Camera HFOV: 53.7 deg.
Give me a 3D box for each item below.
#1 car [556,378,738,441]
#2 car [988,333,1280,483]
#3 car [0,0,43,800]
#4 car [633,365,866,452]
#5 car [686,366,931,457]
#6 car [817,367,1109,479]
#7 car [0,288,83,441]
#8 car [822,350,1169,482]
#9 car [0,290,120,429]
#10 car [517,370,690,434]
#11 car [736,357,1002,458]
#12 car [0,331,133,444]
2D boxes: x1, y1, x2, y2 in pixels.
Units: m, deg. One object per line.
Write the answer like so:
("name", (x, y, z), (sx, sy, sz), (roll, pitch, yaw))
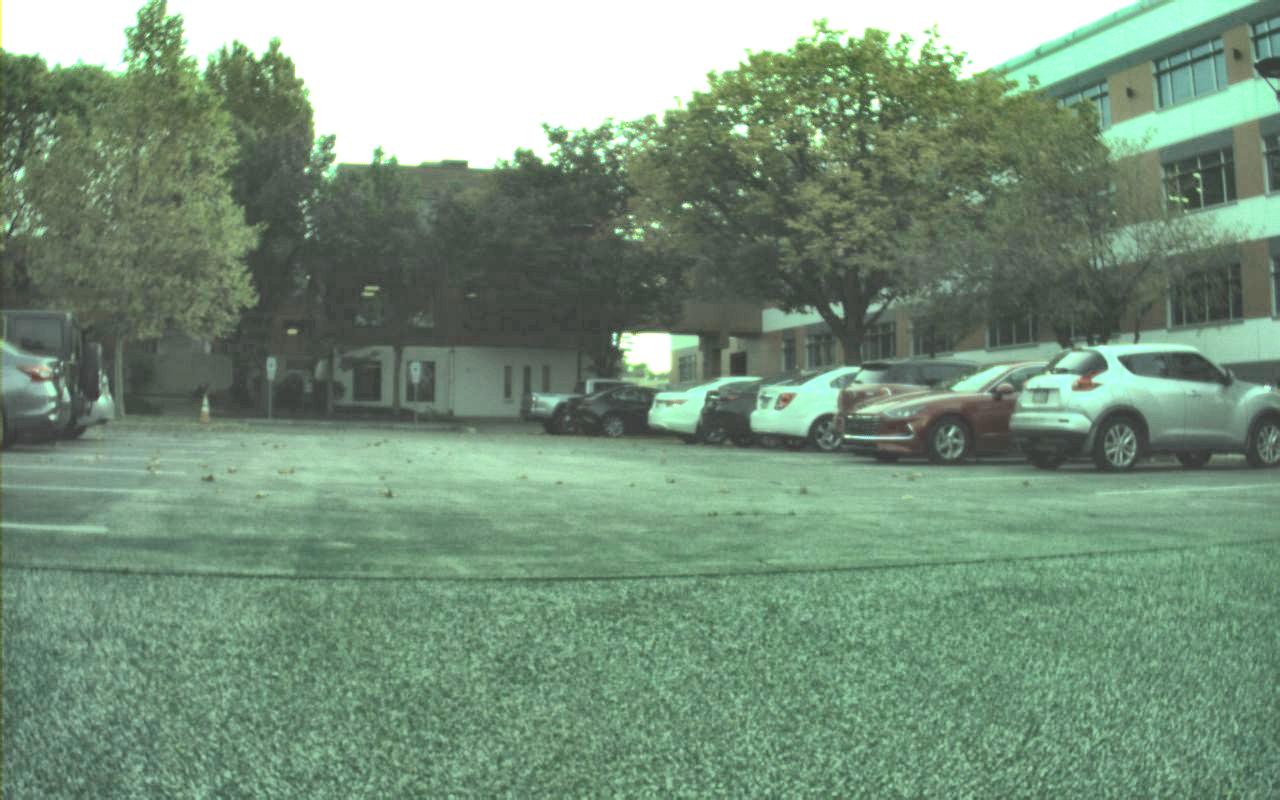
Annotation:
("car", (0.193, 0.225, 34.437), (4.599, 1.601, 1.956), (0, 1, -25))
("car", (6.510, 0.086, 14.615), (4.175, 1.647, 1.872), (0, 1, -15))
("car", (-5.776, -0.168, 5.574), (4.650, 1.637, 1.993), (0, 1, -17))
("car", (2.335, 0.145, 27.106), (4.622, 1.762, 2.002), (0, 1, -16))
("car", (3.320, 0.193, 24.725), (4.460, 1.669, 1.947), (0, 1, -18))
("car", (5.233, 0.325, 19.779), (4.414, 1.628, 1.946), (0, 1, -15))
("car", (-8.792, -0.371, 12.664), (4.489, 1.655, 1.974), (0, 1, -19))
("car", (5.009, 0.179, 16.976), (4.634, 1.643, 1.974), (0, 1, -16))
("car", (-9.464, -0.516, 15.166), (4.685, 1.798, 2.023), (0, 1, -19))
("car", (-1.164, 0.044, 39.294), (5.019, 1.917, 2.095), (0, 1, -17))
("car", (4.121, 0.102, 22.364), (4.422, 1.680, 1.928), (0, 1, -16))
("car", (-10.185, -0.163, 17.500), (4.479, 1.656, 1.967), (0, 1, -16))
